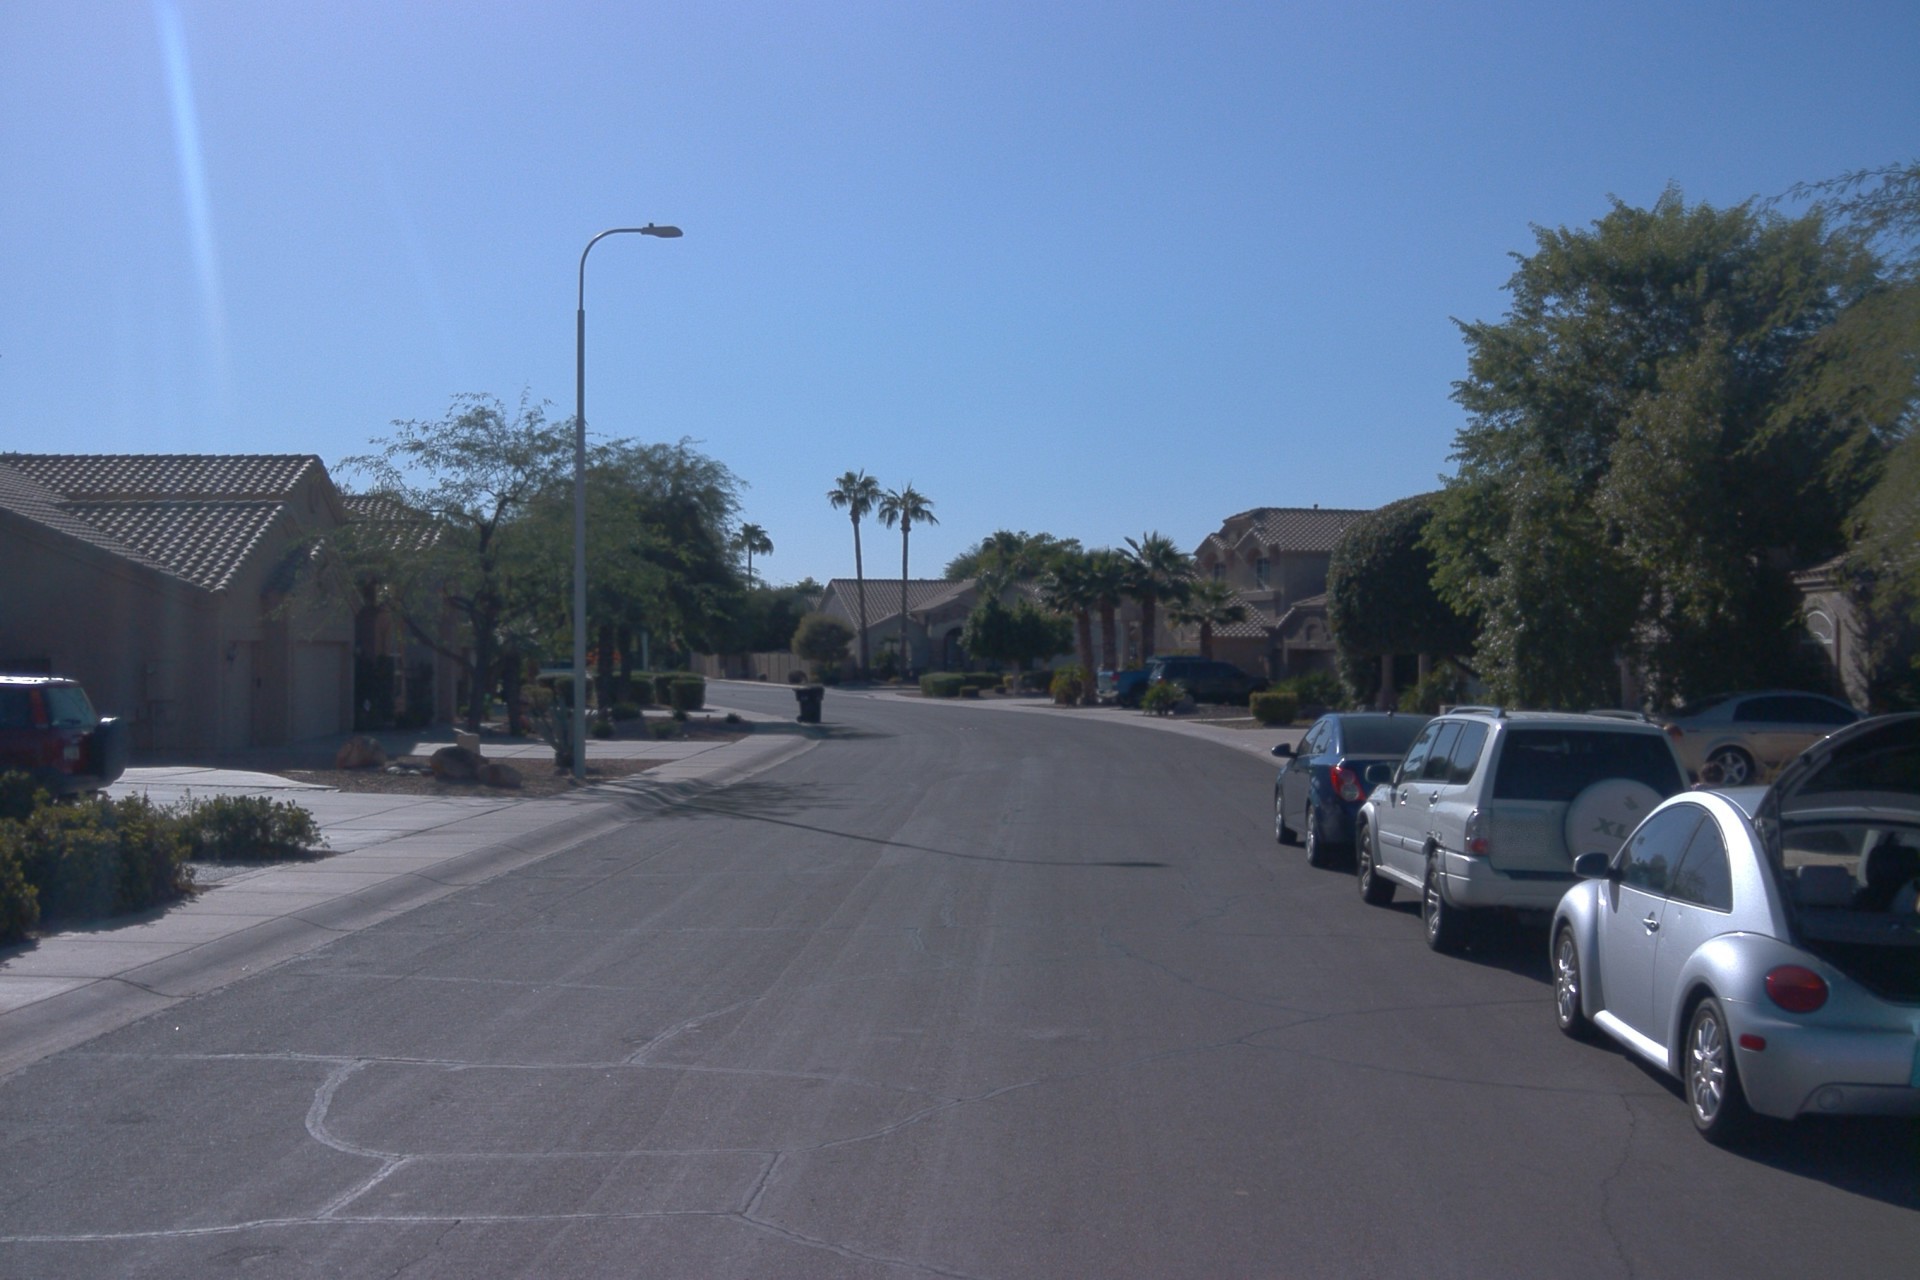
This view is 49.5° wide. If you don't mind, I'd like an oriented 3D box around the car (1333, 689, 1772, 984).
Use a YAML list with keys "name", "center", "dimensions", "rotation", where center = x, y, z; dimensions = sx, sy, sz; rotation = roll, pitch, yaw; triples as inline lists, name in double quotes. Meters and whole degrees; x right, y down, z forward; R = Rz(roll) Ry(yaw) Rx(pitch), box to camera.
- name: "car"
  center: [4.205, 1.303, 15.693]
  dimensions: [2.103, 1.780, 4.806]
  rotation: [0, 0, 2]

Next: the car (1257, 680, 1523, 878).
- name: "car"
  center: [4.294, 1.327, 21.518]
  dimensions: [1.994, 1.750, 4.475]
  rotation: [0, 0, 2]
